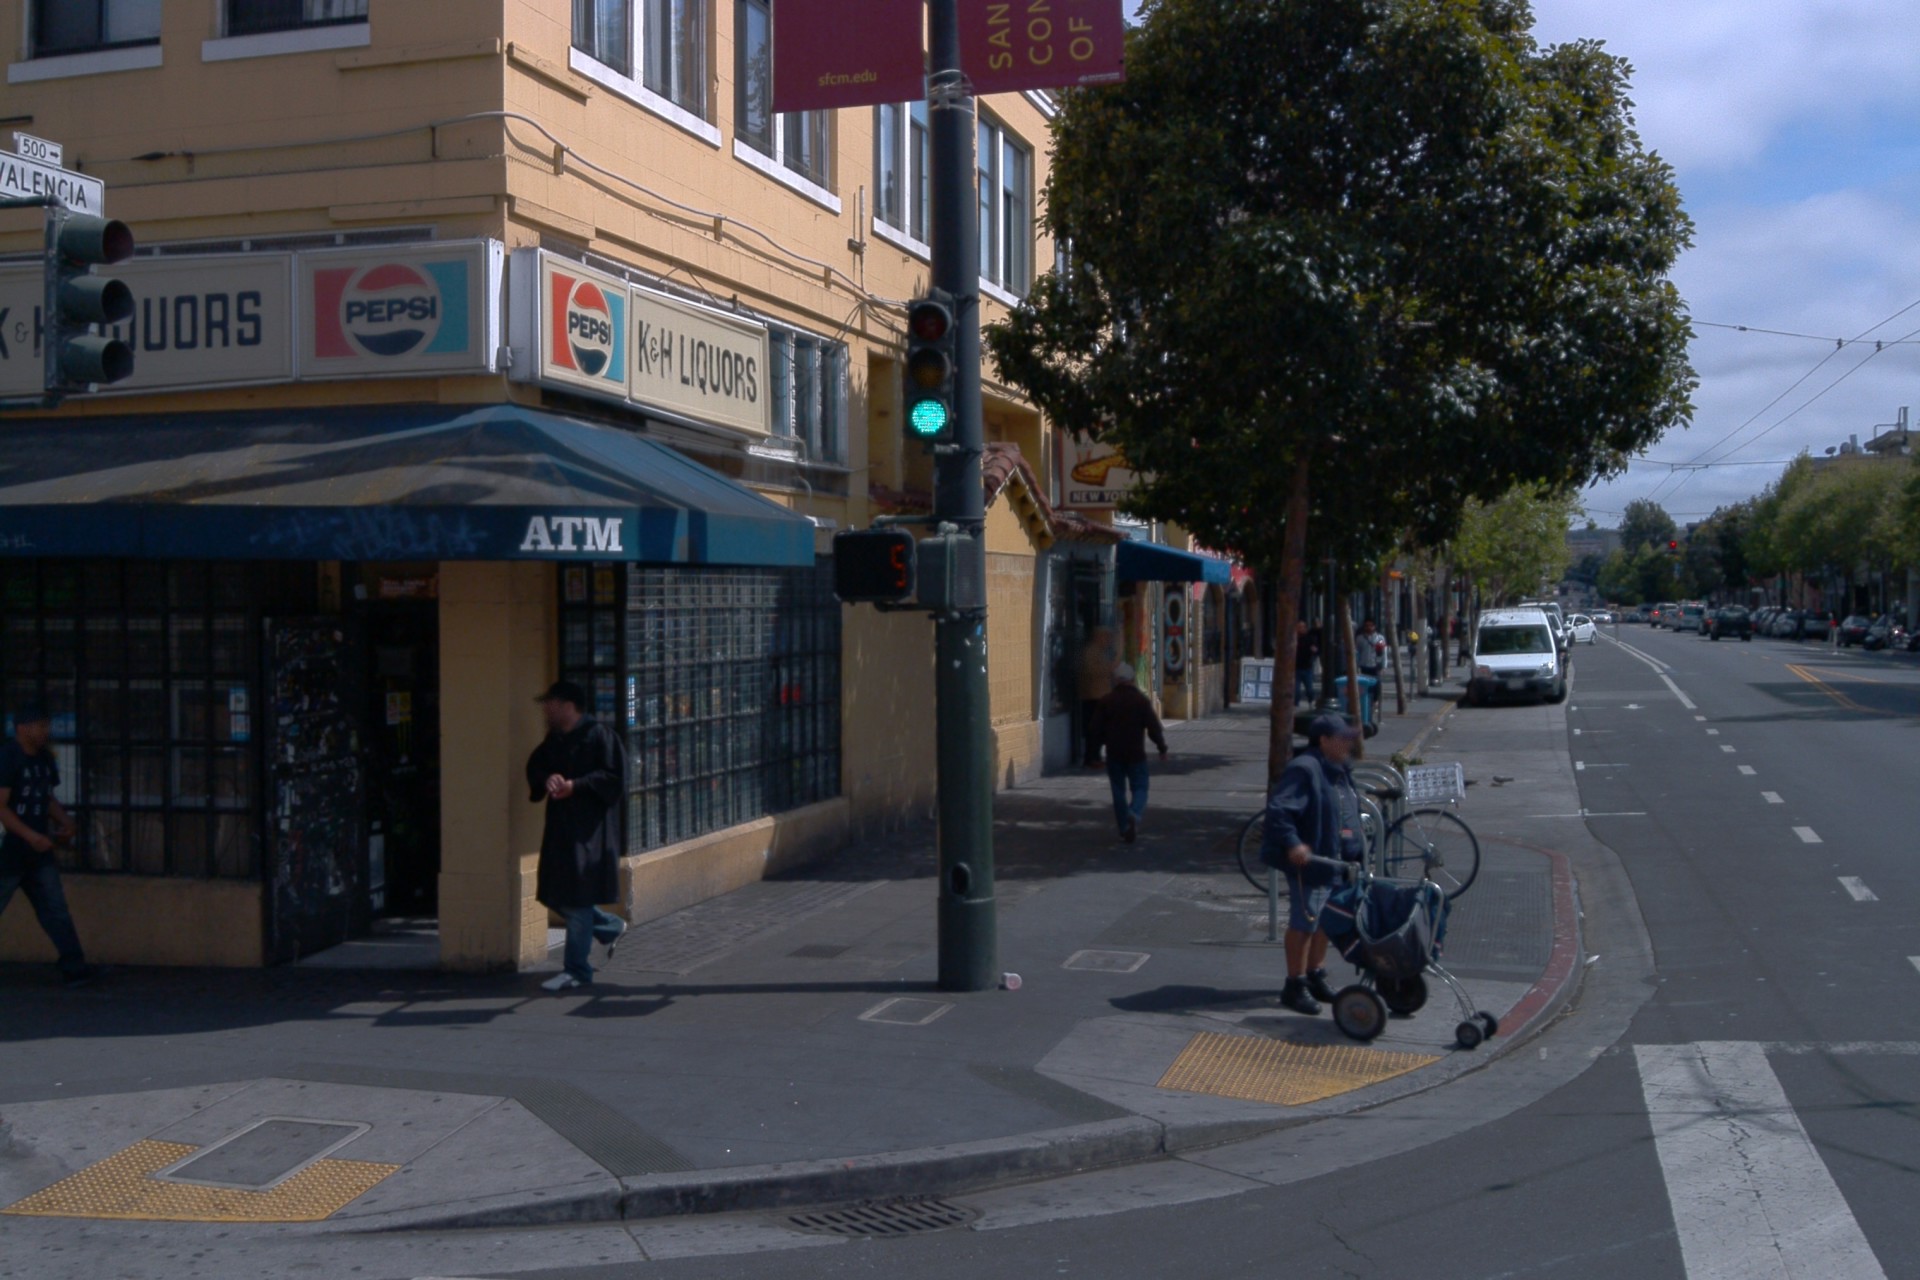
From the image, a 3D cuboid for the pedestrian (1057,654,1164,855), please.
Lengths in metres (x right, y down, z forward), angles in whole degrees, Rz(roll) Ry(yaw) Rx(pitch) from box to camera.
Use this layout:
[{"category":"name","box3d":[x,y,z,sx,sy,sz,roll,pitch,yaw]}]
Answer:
[{"category":"pedestrian","box3d":[1.370,1.006,18.578,0.800,1.730,1.078,0,0,14]}]

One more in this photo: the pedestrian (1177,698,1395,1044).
[{"category":"pedestrian","box3d":[1.815,1.244,11.486,0.866,1.790,0.827,0,0,-32]}]

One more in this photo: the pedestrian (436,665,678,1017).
[{"category":"pedestrian","box3d":[-2.347,1.118,12.005,0.997,1.910,0.958,0,0,34]}]

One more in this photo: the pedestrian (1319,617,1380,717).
[{"category":"pedestrian","box3d":[7.148,0.478,37.711,0.948,1.810,0.830,0,0,23]}]

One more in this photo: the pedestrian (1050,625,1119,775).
[{"category":"pedestrian","box3d":[1.596,0.750,26.268,0.780,1.890,0.820,0,0,12]}]

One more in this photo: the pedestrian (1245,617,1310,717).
[{"category":"pedestrian","box3d":[5.738,0.475,37.152,0.957,1.790,0.971,0,0,22]}]
